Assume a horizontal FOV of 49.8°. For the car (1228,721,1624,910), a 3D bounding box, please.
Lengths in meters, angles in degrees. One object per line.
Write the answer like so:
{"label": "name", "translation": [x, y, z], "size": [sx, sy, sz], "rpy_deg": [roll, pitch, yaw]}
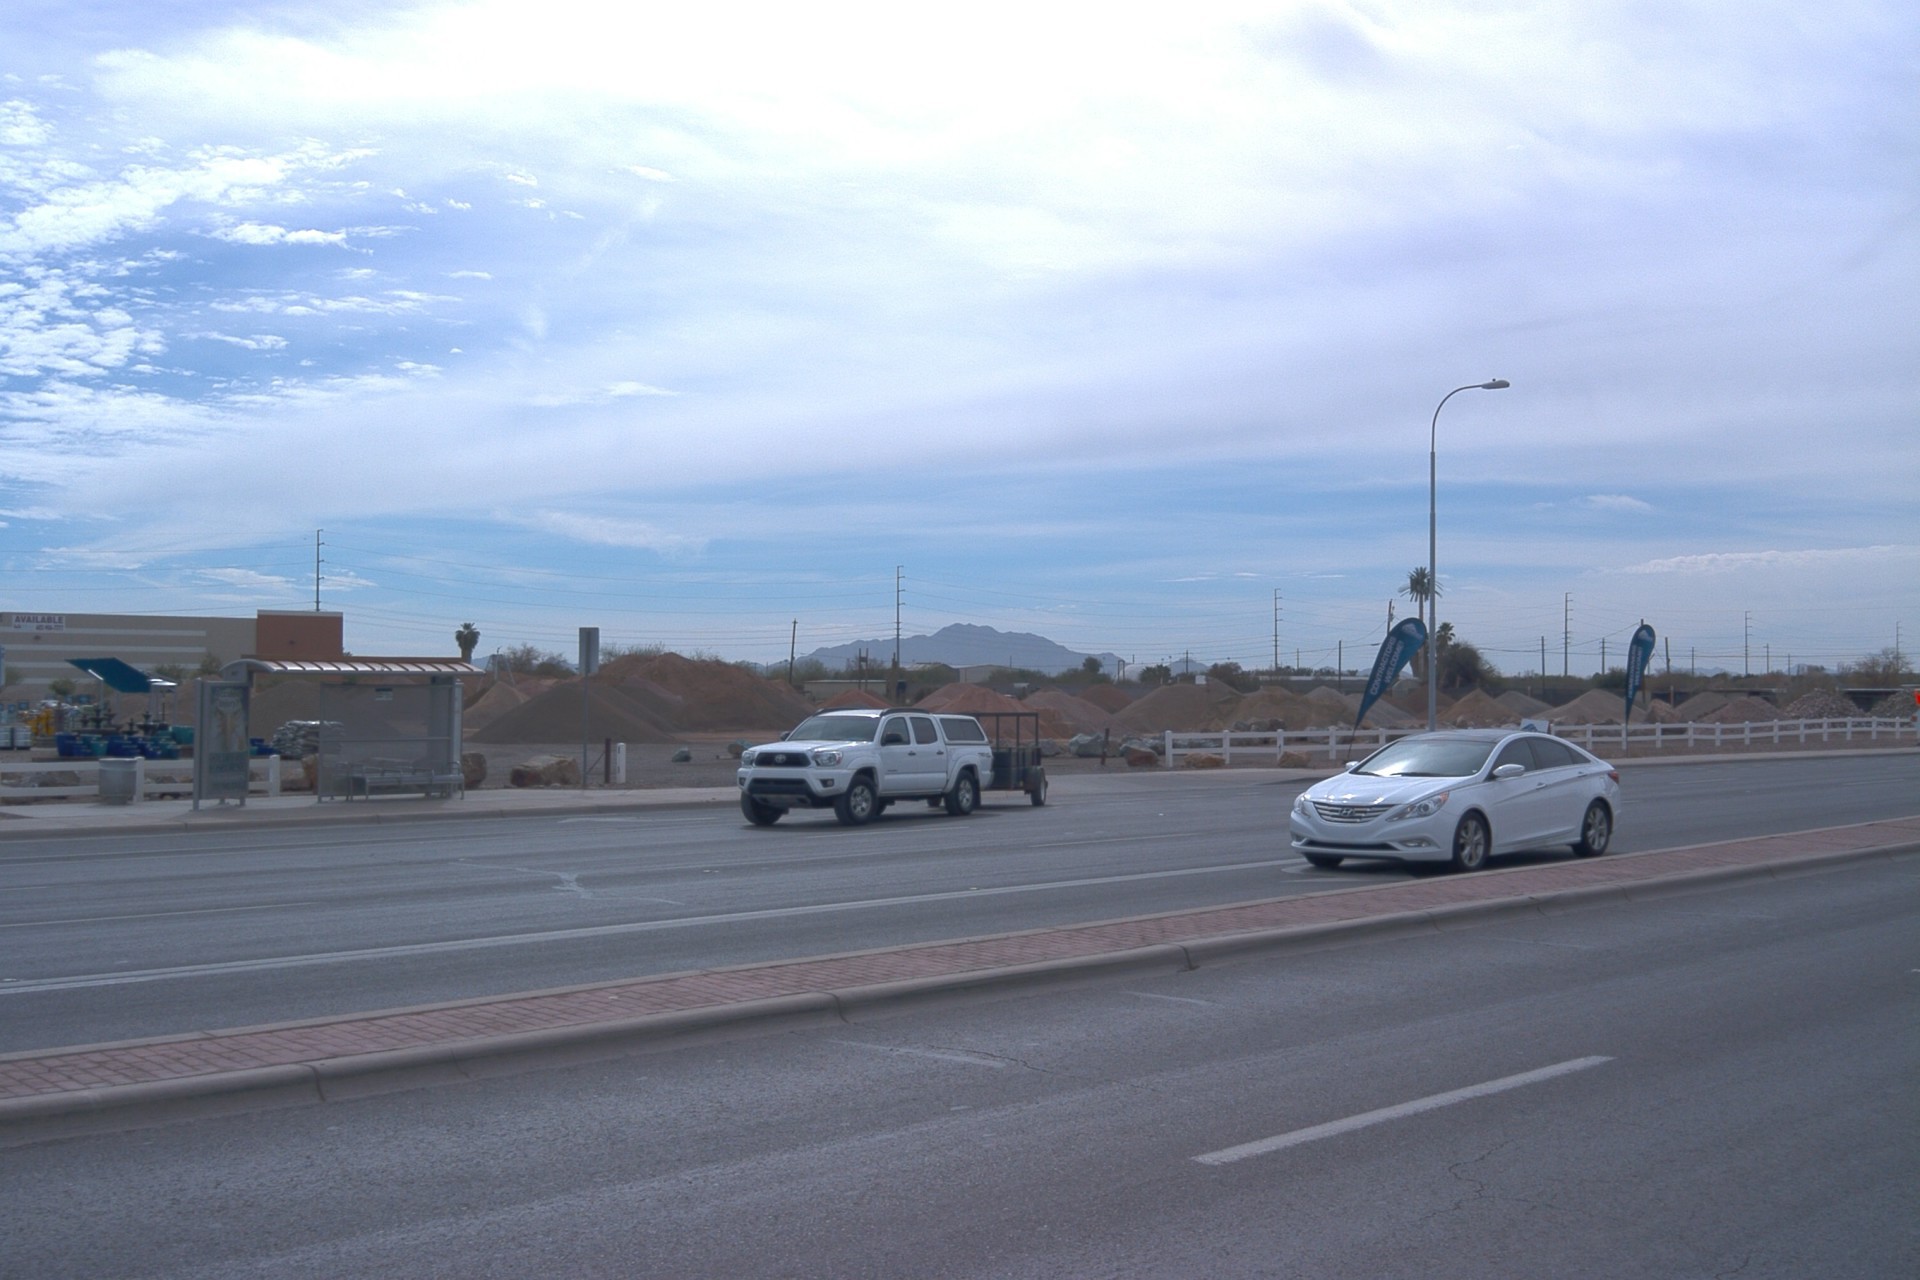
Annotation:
{"label": "car", "translation": [5.181, 1.800, 22.526], "size": [2.106, 1.670, 4.752], "rpy_deg": [1, 0, 43]}

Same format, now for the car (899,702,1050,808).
{"label": "car", "translation": [0.307, 2.032, 37.190], "size": [2.057, 1.700, 2.897], "rpy_deg": [1, 0, 14]}

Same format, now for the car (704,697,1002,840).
{"label": "car", "translation": [-1.555, 1.932, 32.591], "size": [2.219, 1.900, 5.386], "rpy_deg": [1, 0, 28]}
